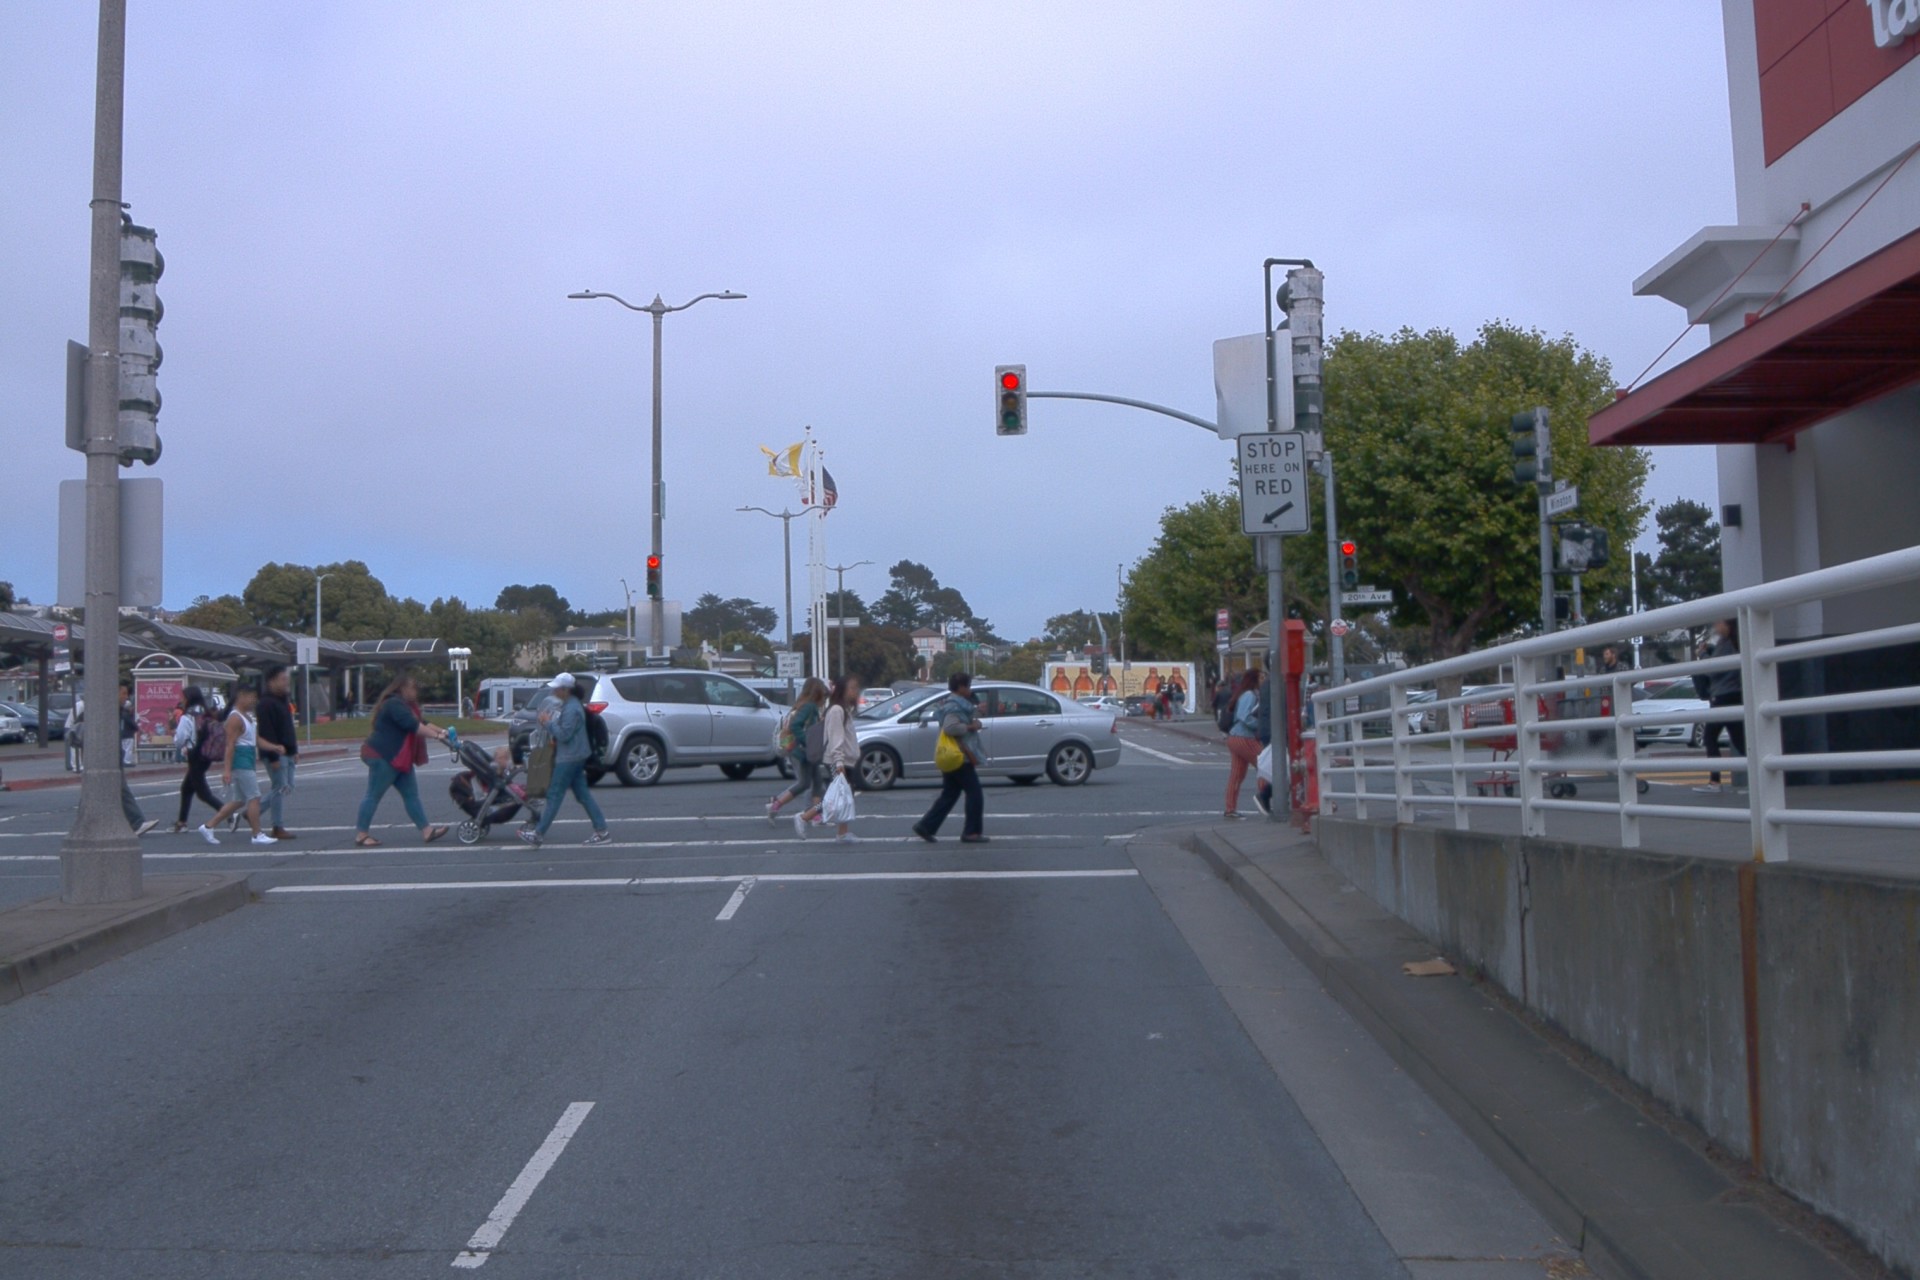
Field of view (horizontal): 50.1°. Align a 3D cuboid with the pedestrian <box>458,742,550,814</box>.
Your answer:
[{"bbox_3d":[-4.304,1.295,19.416,0.771,0.640,0.481,0,1,-1],"label":"pedestrian"}]

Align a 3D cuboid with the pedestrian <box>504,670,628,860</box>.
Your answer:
[{"bbox_3d":[-3.581,1.112,18.657,1.008,1.650,0.764,0,1,-18],"label":"pedestrian"}]

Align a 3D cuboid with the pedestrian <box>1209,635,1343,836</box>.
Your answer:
[{"bbox_3d":[2.847,0.828,18.471,0.958,1.730,0.949,0,1,25],"label":"pedestrian"}]

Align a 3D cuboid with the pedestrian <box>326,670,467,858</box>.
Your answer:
[{"bbox_3d":[-5.289,1.152,19.340,1.130,1.710,0.706,0,1,-1],"label":"pedestrian"}]

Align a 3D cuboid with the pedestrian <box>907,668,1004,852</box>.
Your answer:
[{"bbox_3d":[-0.047,1.050,18.292,0.813,1.580,0.783,0,1,-3],"label":"pedestrian"}]

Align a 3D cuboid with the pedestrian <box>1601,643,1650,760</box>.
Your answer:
[{"bbox_3d":[11.000,1.011,33.988,0.745,1.900,0.616,0,1,21],"label":"pedestrian"}]

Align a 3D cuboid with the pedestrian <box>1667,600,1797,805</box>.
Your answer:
[{"bbox_3d":[6.433,0.497,17.118,0.934,1.650,0.745,0,1,27],"label":"pedestrian"}]

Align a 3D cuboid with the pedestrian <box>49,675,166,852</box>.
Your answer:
[{"bbox_3d":[-8.558,1.226,20.668,0.939,1.720,0.669,0,1,-9],"label":"pedestrian"}]

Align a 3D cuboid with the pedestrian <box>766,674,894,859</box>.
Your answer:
[{"bbox_3d":[-1.146,1.105,18.278,0.957,1.580,0.813,0,1,11],"label":"pedestrian"}]

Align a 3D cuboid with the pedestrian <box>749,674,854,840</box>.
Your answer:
[{"bbox_3d":[-1.549,1.128,20.046,0.976,1.560,0.647,0,1,-7],"label":"pedestrian"}]

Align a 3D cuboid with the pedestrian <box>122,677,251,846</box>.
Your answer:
[{"bbox_3d":[-7.958,1.236,21.197,0.999,1.670,0.911,0,1,-2],"label":"pedestrian"}]

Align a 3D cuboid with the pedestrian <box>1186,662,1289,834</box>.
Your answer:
[{"bbox_3d":[2.736,1.053,20.363,0.942,1.650,0.784,0,1,3],"label":"pedestrian"}]

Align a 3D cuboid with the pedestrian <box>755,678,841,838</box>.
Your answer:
[{"bbox_3d":[-1.640,1.174,20.723,0.823,1.560,0.697,0,1,-6],"label":"pedestrian"}]

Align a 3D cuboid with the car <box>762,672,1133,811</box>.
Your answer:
[{"bbox_3d":[-0.177,1.285,27.238,4.471,1.620,2.031,-1,1,-22],"label":"car"}]

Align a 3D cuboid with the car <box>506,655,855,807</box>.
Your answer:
[{"bbox_3d":[-4.036,1.249,30.076,4.592,1.960,2.161,-1,1,-39],"label":"car"}]

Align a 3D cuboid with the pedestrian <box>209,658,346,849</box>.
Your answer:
[{"bbox_3d":[-6.757,1.105,20.404,1.004,1.830,0.939,0,1,4],"label":"pedestrian"}]

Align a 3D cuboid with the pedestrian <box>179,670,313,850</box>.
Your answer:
[{"bbox_3d":[-6.844,1.138,19.732,1.013,1.670,0.738,0,1,2],"label":"pedestrian"}]
